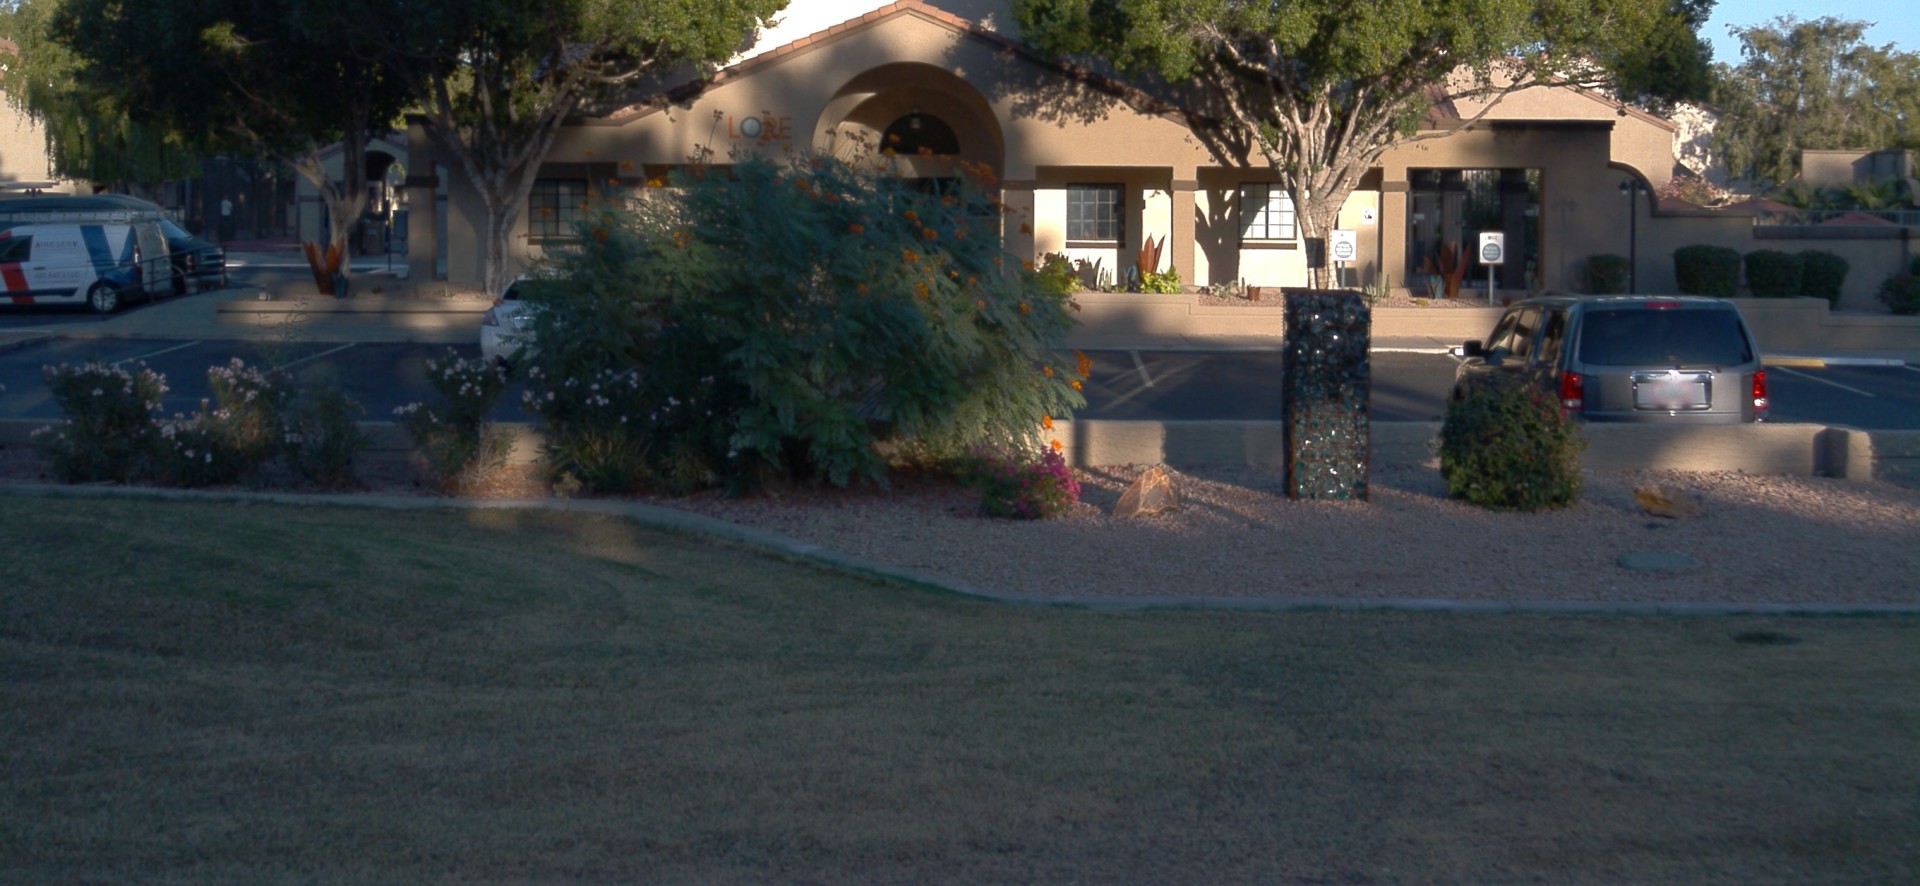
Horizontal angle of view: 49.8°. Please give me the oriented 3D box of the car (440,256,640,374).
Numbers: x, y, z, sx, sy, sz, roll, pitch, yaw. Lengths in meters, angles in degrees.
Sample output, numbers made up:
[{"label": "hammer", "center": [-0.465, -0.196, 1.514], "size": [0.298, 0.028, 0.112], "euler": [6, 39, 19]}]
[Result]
[{"label": "car", "center": [-6.334, -2.032, 31.773], "size": [2.100, 1.624, 4.626], "euler": [0, 5, 0]}]

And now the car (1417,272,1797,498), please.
[{"label": "car", "center": [5.856, -0.686, 19.496], "size": [2.235, 1.753, 5.056], "euler": [0, 5, 3]}]
